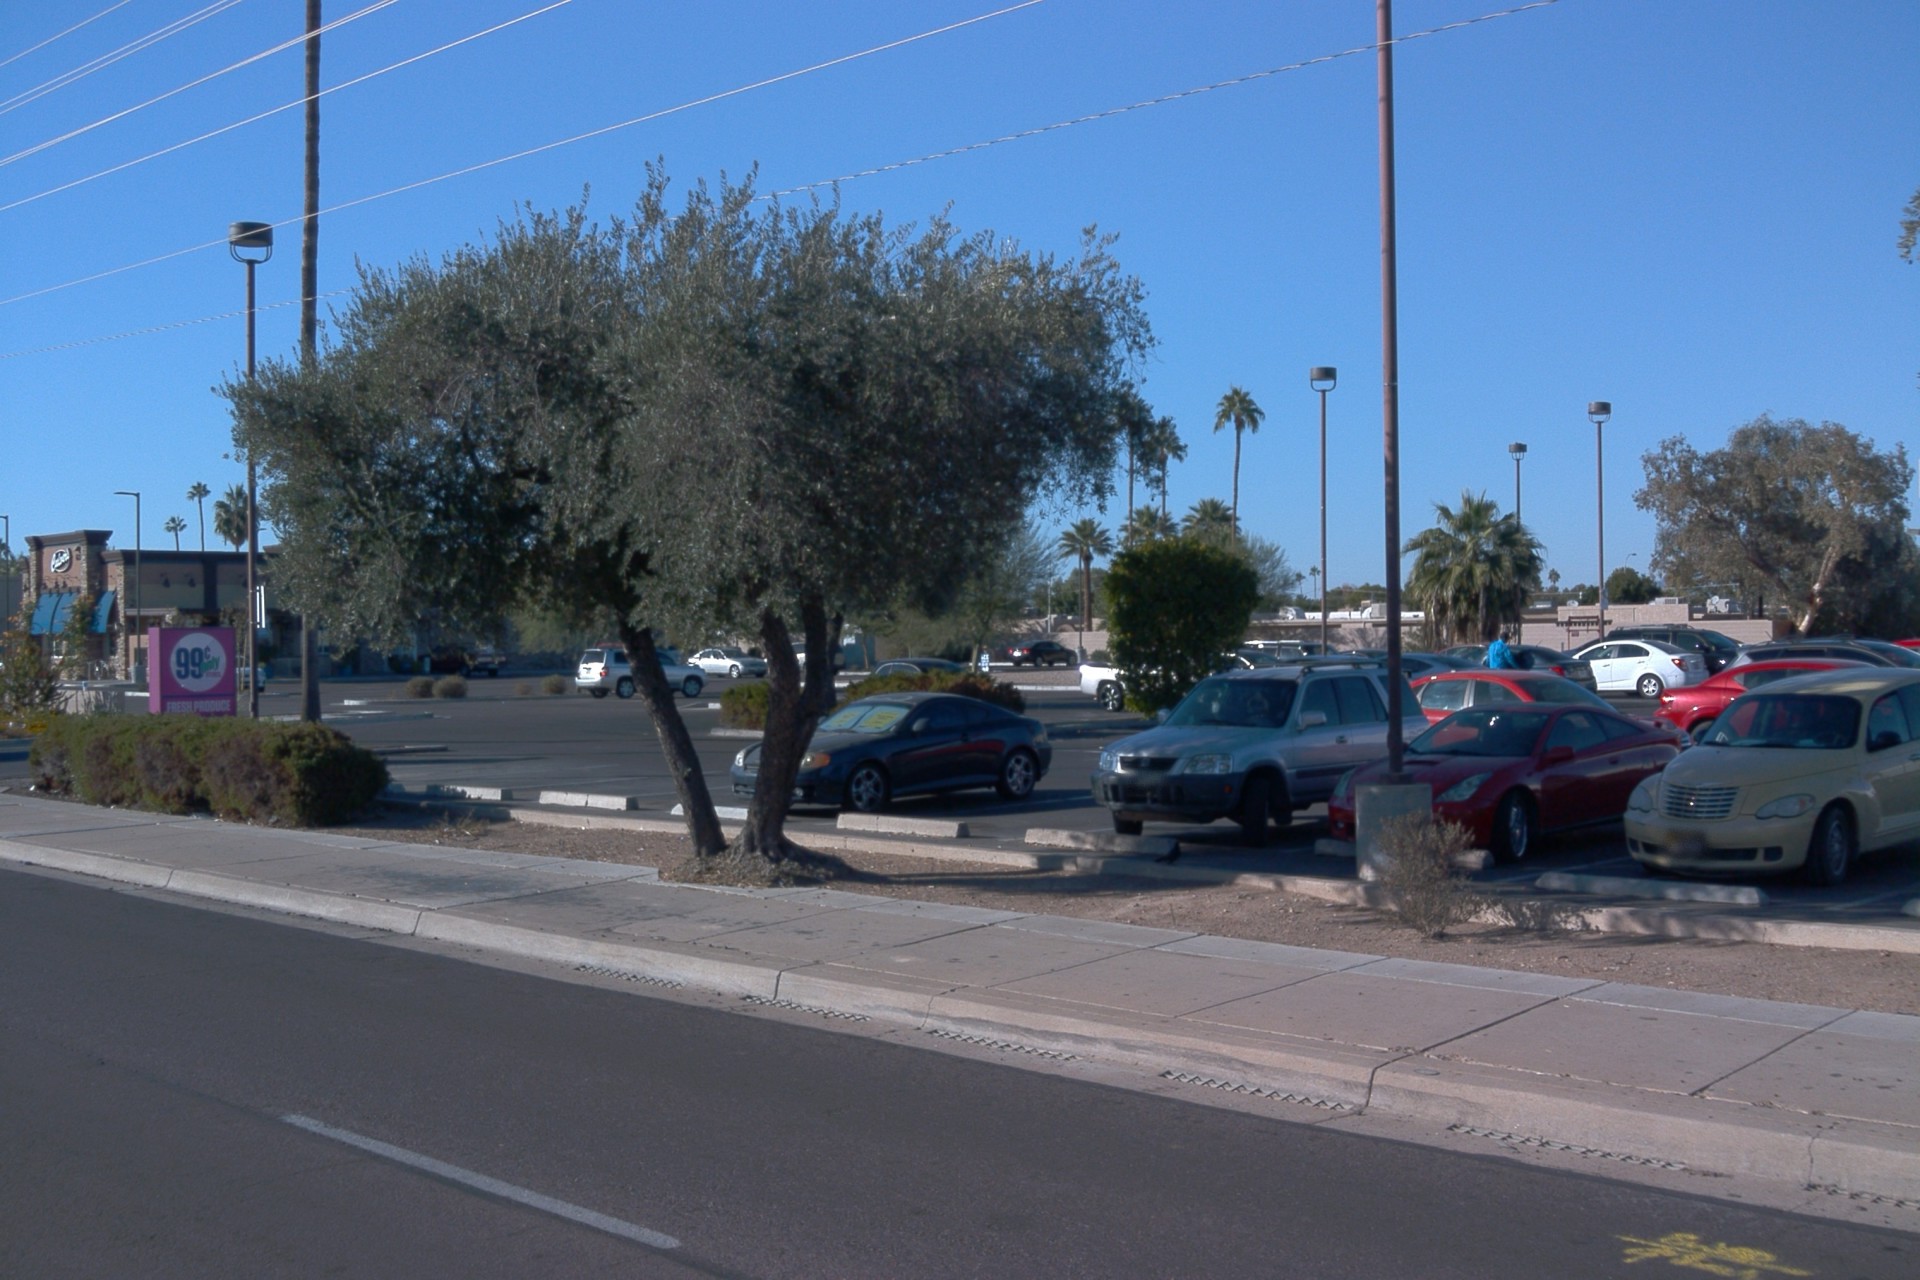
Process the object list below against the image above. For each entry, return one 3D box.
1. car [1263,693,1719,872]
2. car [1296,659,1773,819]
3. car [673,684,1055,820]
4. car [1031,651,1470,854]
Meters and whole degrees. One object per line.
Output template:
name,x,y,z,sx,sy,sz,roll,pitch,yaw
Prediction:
car,4.947,1.210,18.965,4.385,1.380,1.946,0,-1,-42
car,6.702,1.095,24.655,2.187,1.690,5.118,0,-1,-40
car,-1.064,1.256,24.548,2.018,1.410,4.321,-1,-1,44
car,3.017,1.026,20.762,2.110,1.800,4.547,-1,-1,43
